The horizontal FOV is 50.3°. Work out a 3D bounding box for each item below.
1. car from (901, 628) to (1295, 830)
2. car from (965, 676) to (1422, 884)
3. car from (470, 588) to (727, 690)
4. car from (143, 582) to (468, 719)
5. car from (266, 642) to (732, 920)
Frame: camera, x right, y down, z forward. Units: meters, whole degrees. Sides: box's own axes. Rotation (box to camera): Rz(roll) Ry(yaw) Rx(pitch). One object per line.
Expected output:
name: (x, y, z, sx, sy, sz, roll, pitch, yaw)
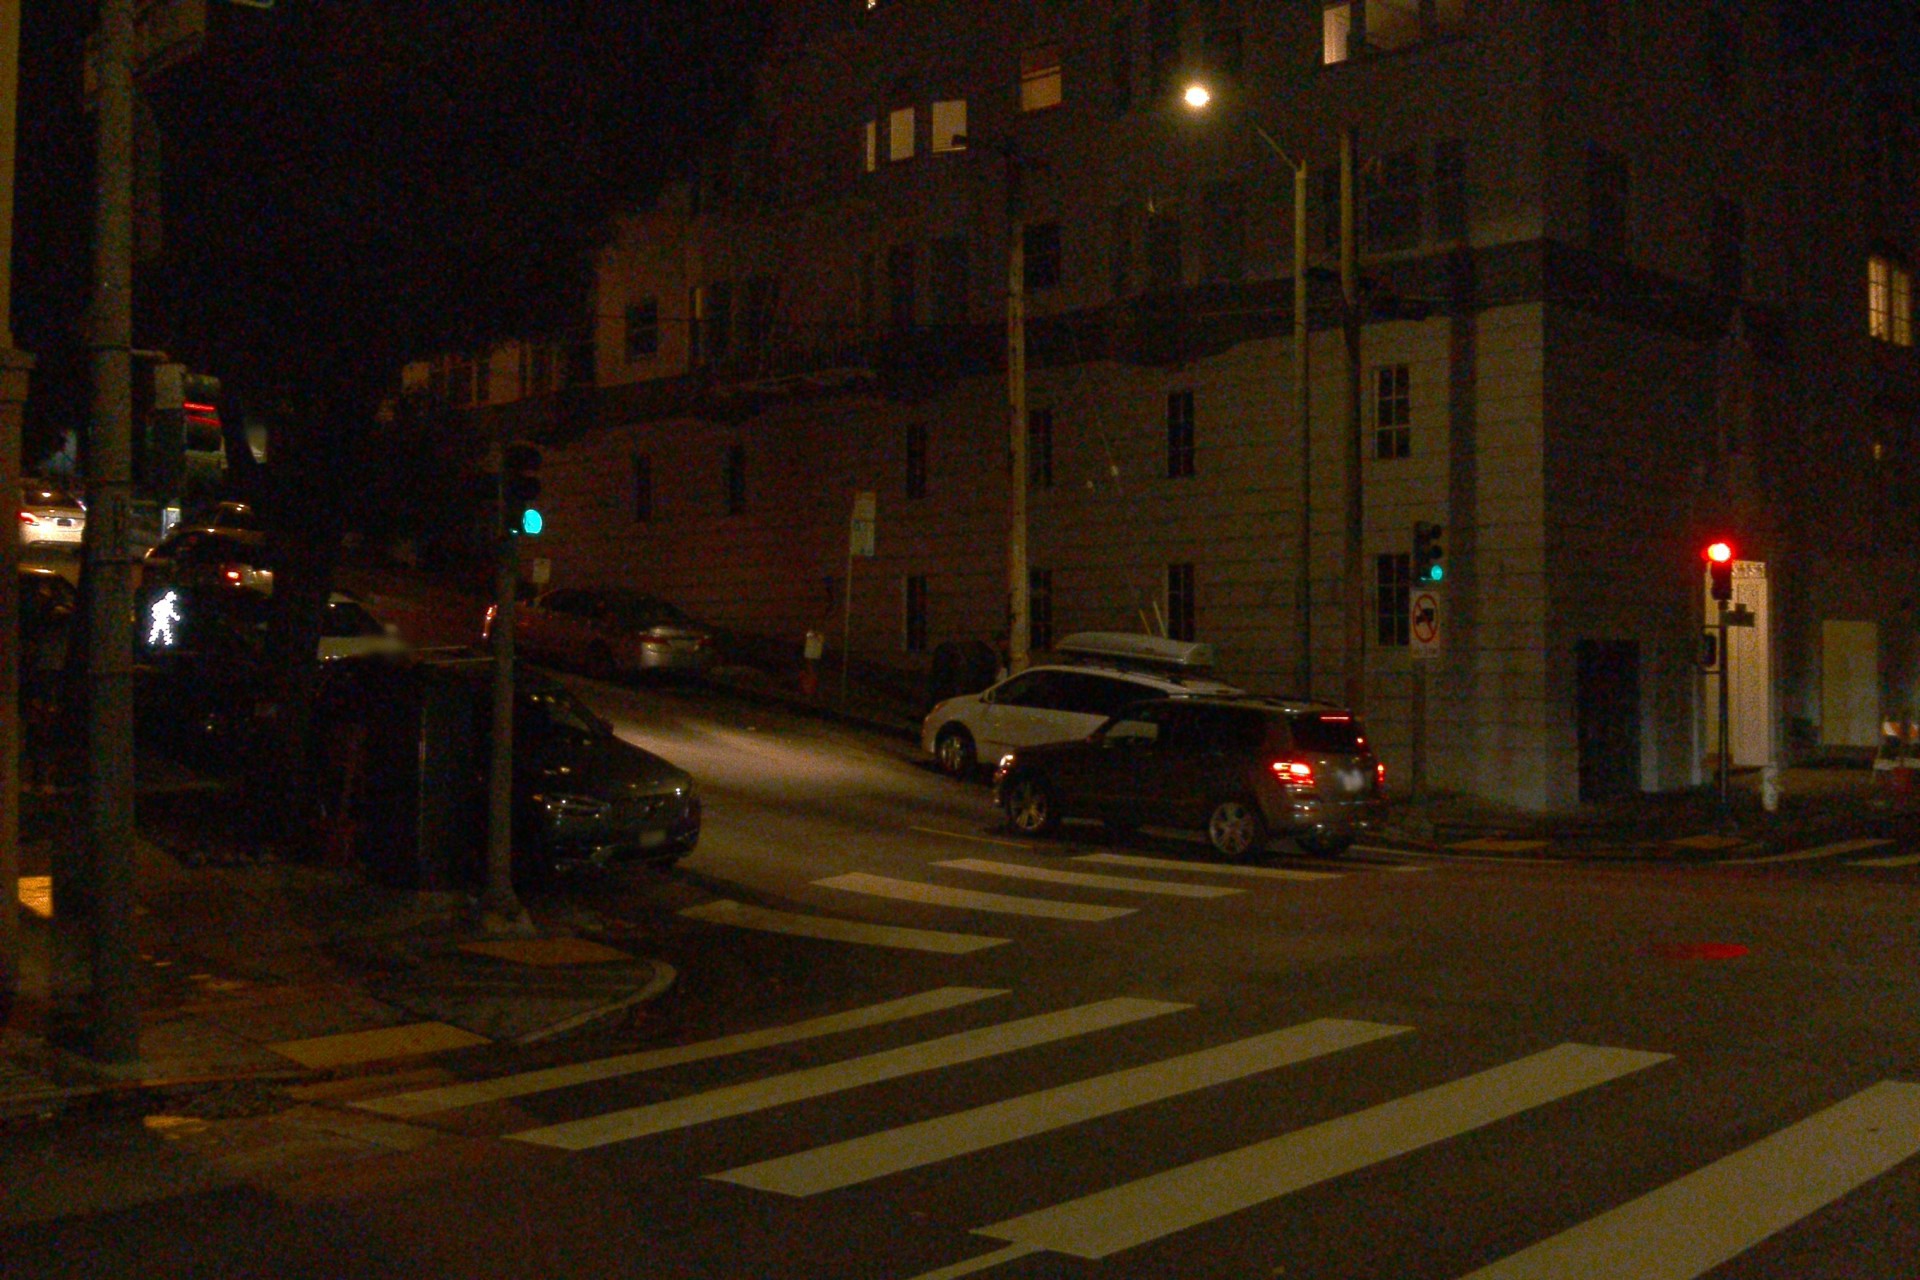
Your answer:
car: (1.744, 1.066, 27.155, 4.904, 2.388, 2.213, 1, 1, 44)
car: (2.429, 1.395, 22.099, 4.561, 1.883, 2.058, 1, 1, 43)
car: (-6.211, -0.047, 34.863, 4.539, 1.626, 1.925, 1, 1, 42)
car: (-9.215, 0.105, 28.607, 4.872, 1.748, 2.181, 1, 1, 42)
car: (-4.576, 1.202, 19.825, 2.195, 2.290, 4.784, 0, 1, -44)
